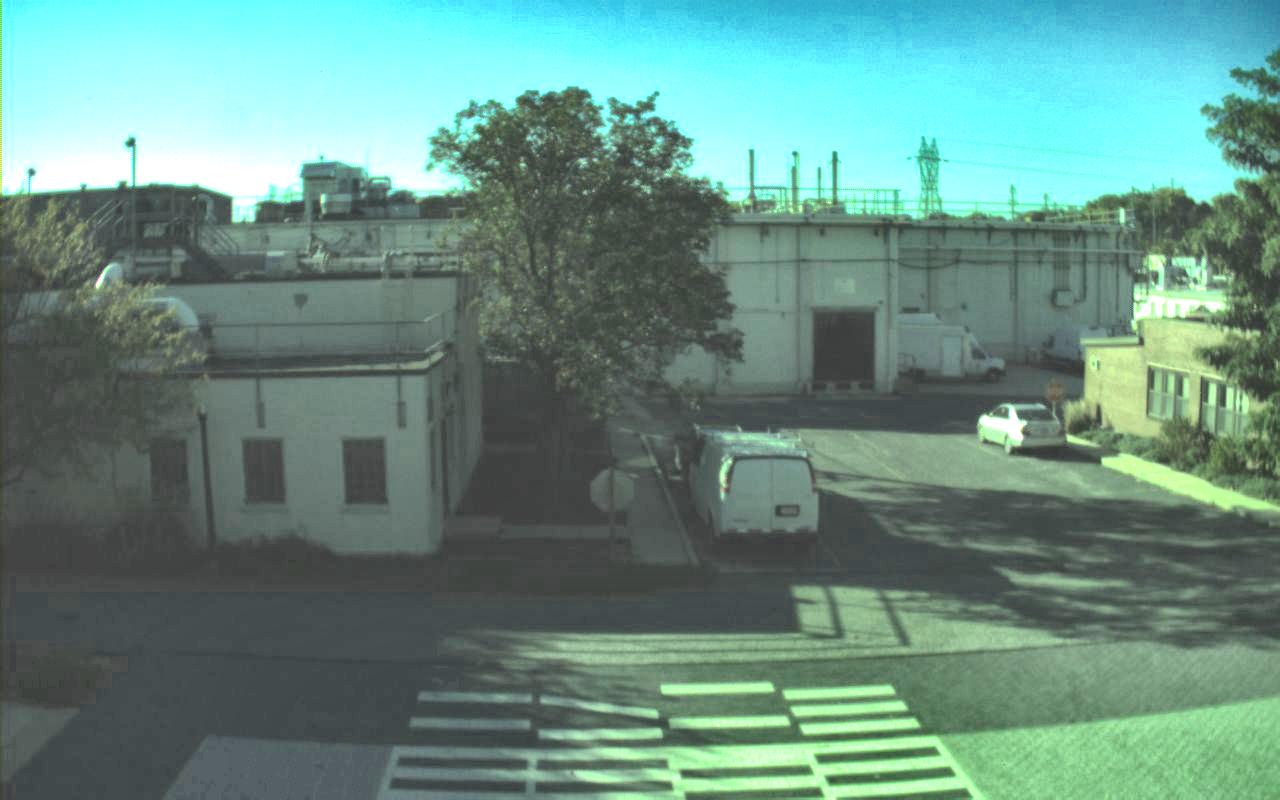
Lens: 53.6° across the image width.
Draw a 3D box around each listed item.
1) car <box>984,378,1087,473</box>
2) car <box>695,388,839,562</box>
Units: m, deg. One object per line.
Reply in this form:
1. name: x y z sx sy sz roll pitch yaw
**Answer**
1. car: 12.726 0.789 39.337 1.987 1.683 4.630 -1 17 -1
2. car: 2.437 1.387 25.467 2.125 1.864 4.898 -2 17 -3
